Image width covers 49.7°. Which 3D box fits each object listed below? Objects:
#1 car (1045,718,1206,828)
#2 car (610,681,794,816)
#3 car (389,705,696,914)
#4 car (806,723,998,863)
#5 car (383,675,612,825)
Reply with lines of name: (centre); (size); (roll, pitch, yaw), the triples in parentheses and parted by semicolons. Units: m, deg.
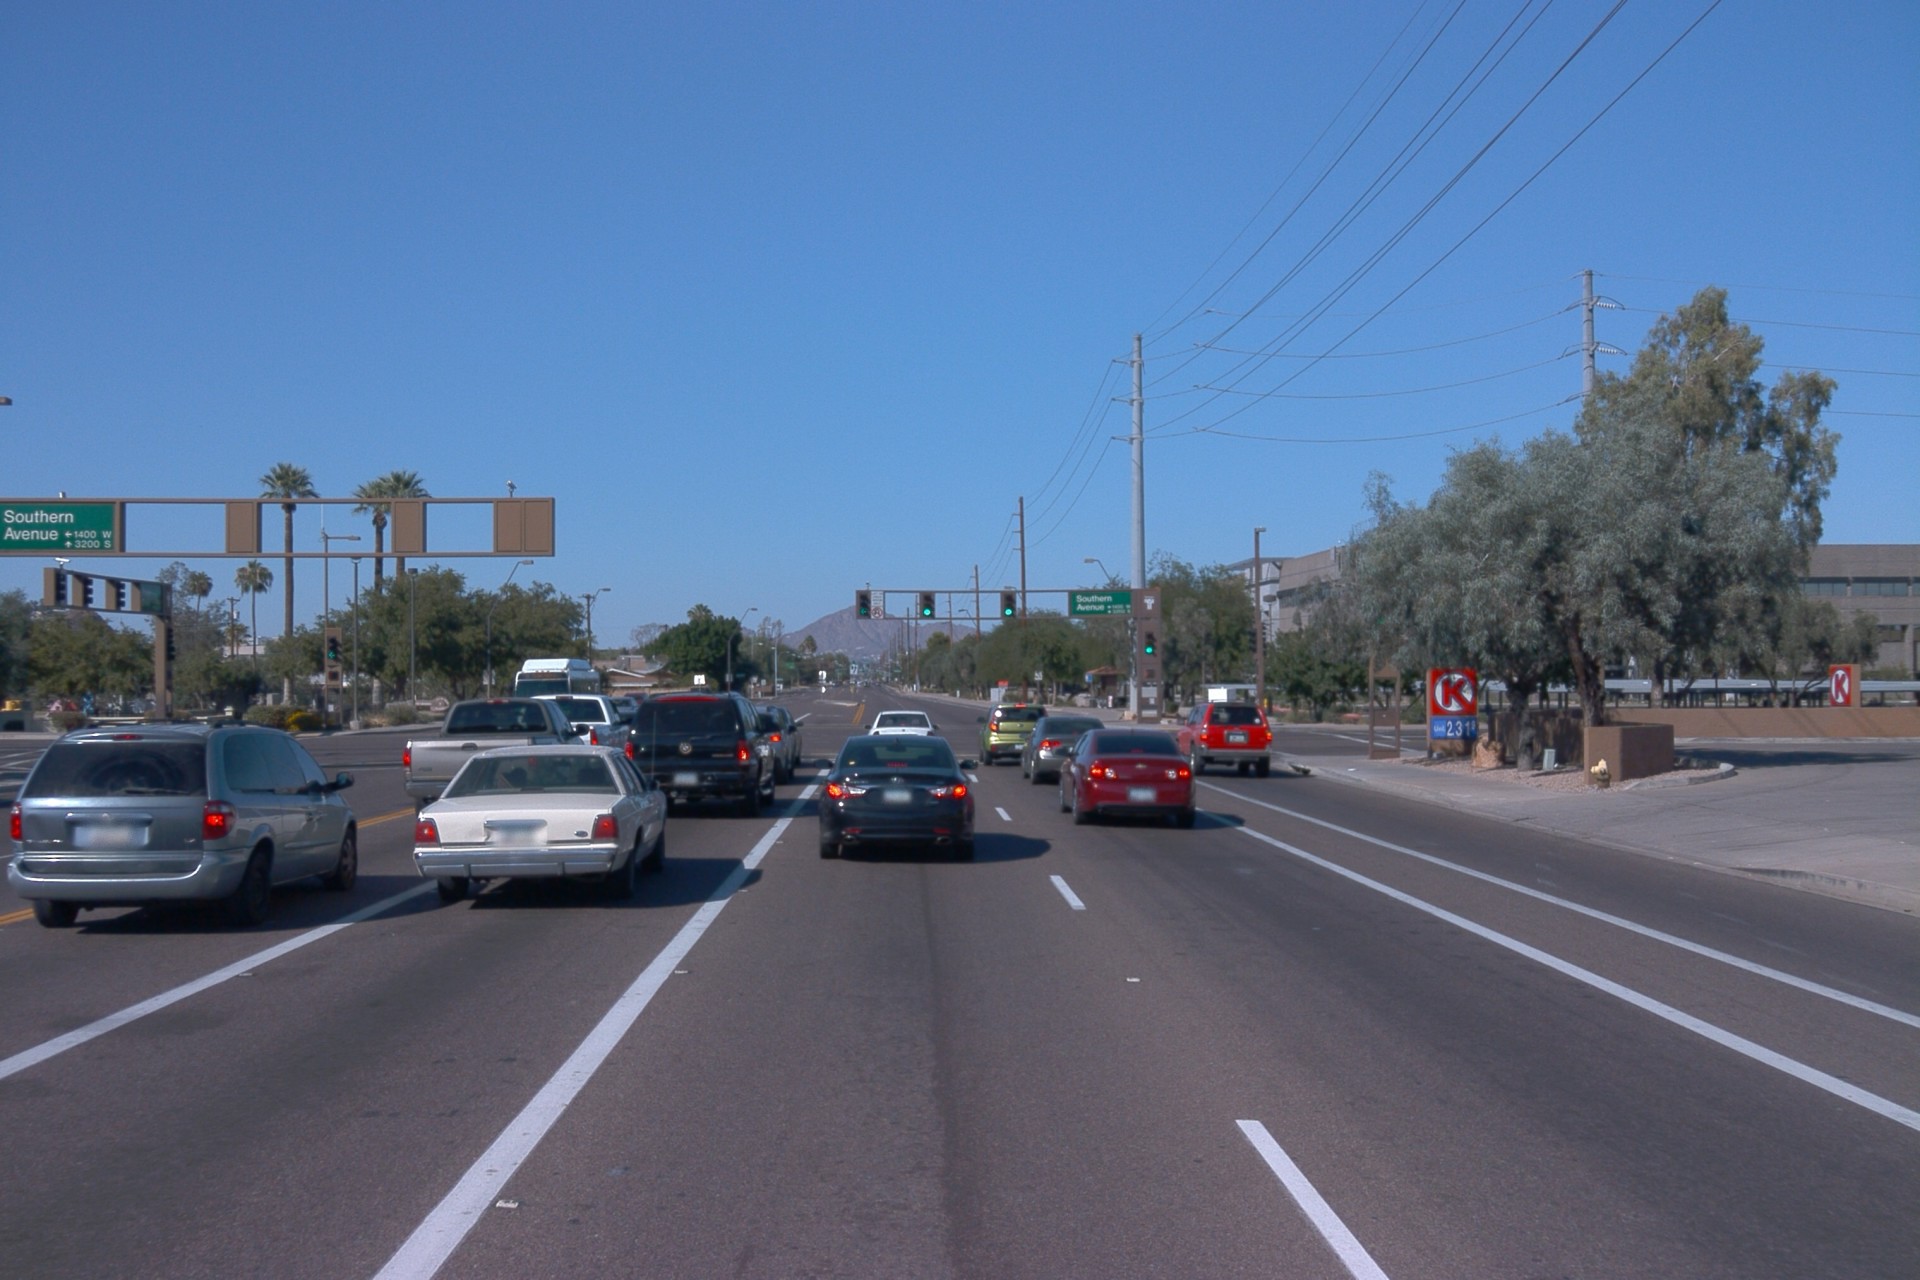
car: (2.463, 1.995, 32.019); (1.961, 1.480, 4.831); (0, -1, -2)
car: (-3.978, 1.646, 32.881); (2.219, 1.970, 5.012); (0, -1, 1)
car: (-4.046, 1.585, 21.076); (2.178, 1.790, 5.373); (0, -1, -2)
car: (-0.734, 1.821, 25.713); (2.156, 1.470, 4.807); (0, -1, -2)
car: (-6.955, 1.598, 31.864); (2.280, 2.080, 5.800); (0, -1, -1)
